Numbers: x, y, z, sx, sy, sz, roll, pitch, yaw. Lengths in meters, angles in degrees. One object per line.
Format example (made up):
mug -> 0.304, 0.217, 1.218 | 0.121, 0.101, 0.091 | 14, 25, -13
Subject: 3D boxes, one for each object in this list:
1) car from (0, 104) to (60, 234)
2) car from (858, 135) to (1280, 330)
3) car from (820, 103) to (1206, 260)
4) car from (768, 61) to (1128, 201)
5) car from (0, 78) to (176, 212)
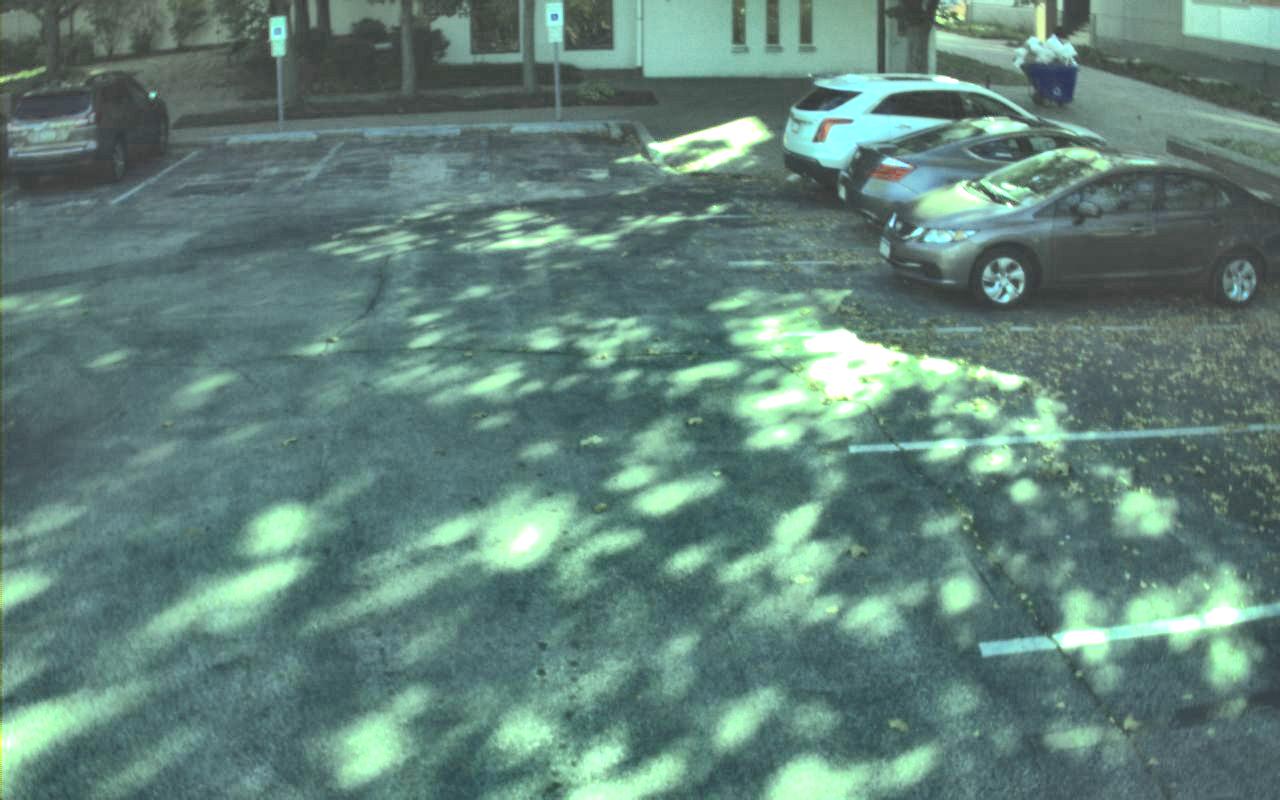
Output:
car -> -12.043, -4.122, 19.291 | 1.958, 1.606, 4.498 | -2, 17, -2
car -> 4.510, -1.720, 11.788 | 4.480, 1.536, 1.940 | -2, 16, -4
car -> 4.374, -2.594, 14.100 | 4.280, 1.534, 1.910 | -3, 16, -6
car -> 4.202, -3.696, 16.501 | 4.625, 1.680, 1.993 | -4, 16, -9
car -> -9.467, -4.472, 19.688 | 2.016, 1.726, 4.614 | -4, 17, -9
